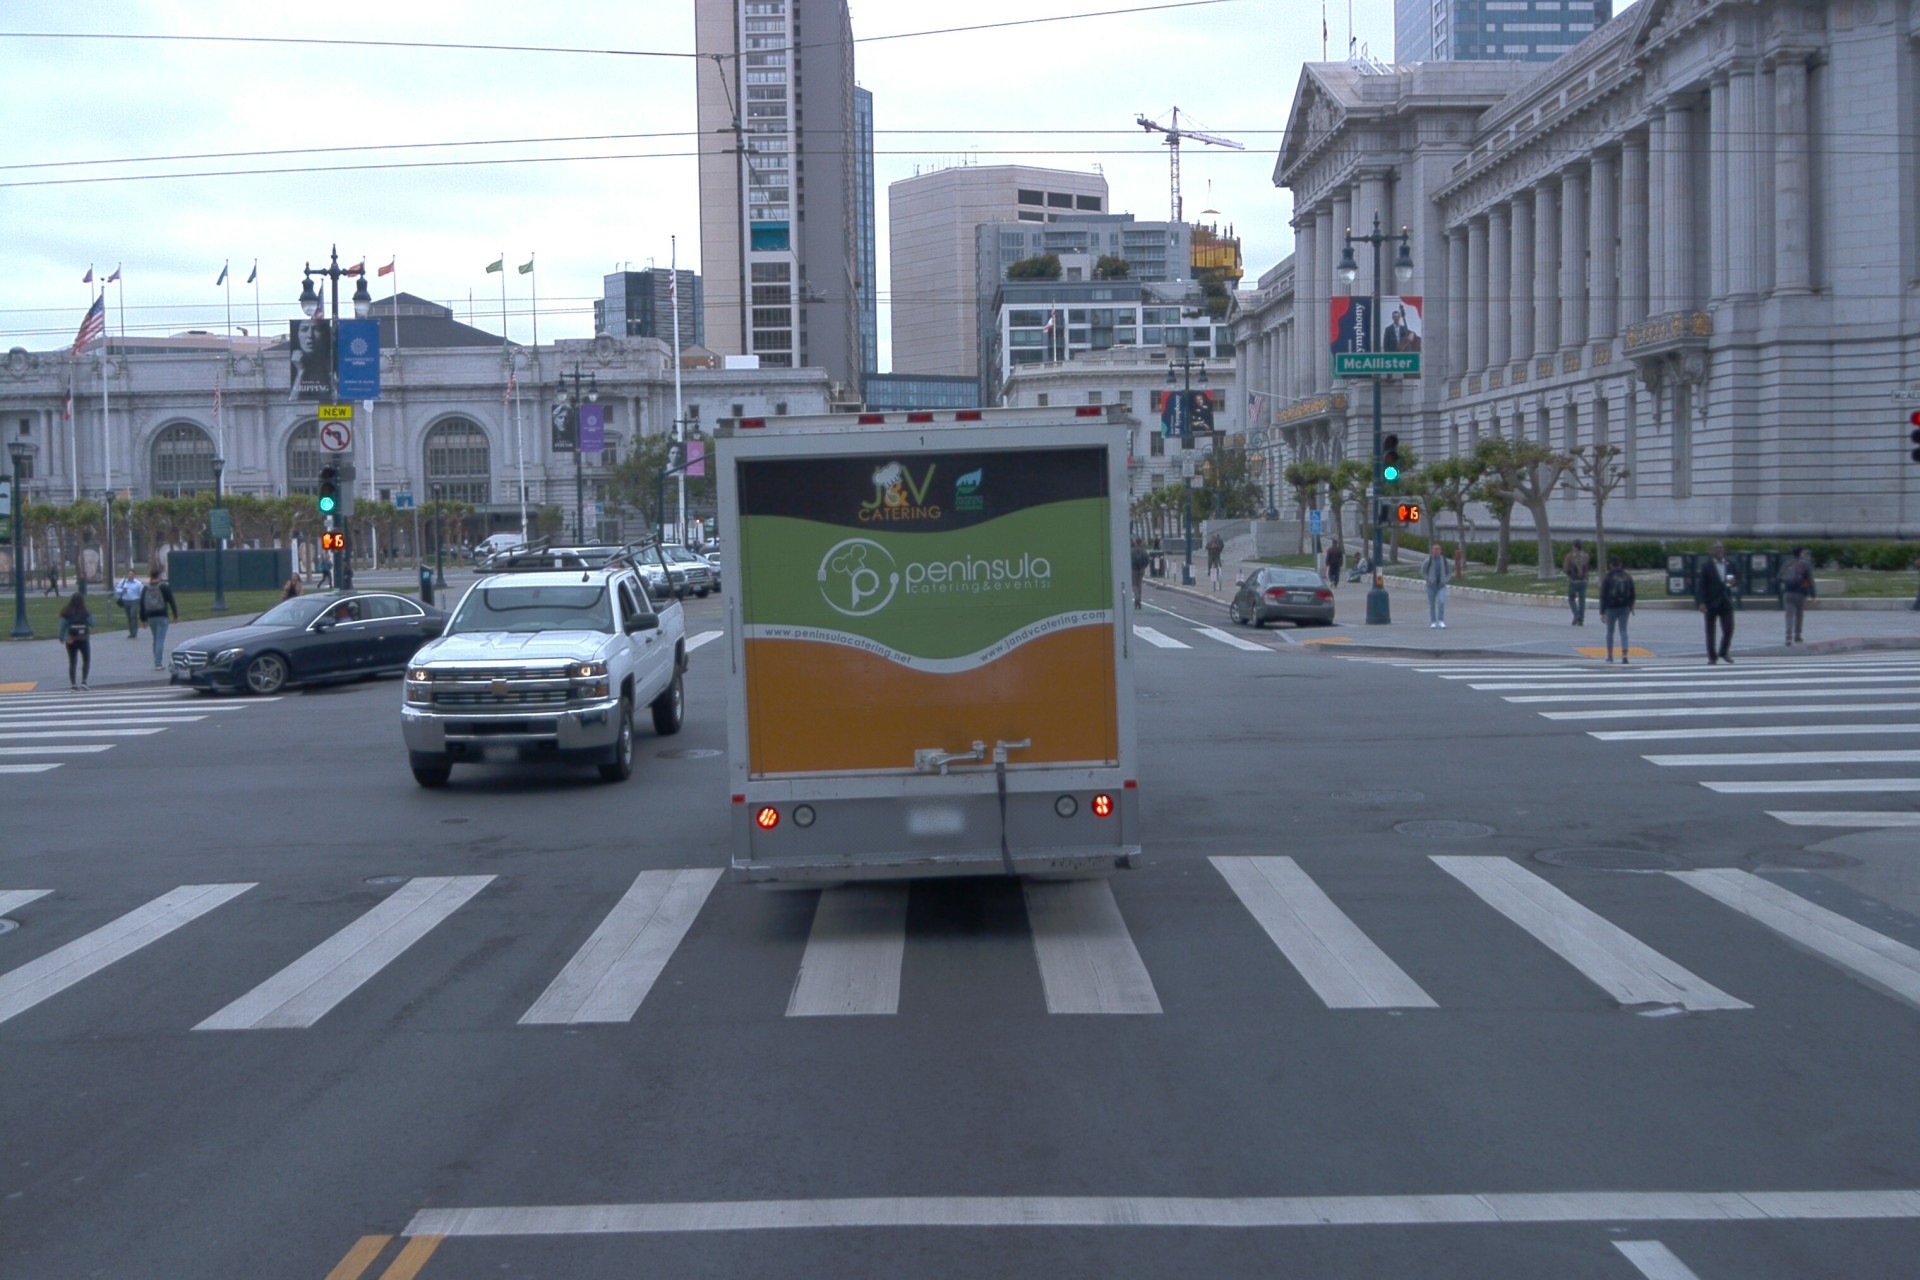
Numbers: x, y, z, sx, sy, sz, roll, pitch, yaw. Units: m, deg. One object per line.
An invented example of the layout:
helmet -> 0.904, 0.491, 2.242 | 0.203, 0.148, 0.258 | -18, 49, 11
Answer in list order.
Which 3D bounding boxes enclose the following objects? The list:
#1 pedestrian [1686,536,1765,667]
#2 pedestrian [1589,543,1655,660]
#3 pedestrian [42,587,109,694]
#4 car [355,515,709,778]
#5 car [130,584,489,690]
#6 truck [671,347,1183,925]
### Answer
pedestrian -> 10.981, -0.548, 29.532 | 0.812, 1.850, 0.951 | 0, 1, 3
pedestrian -> 10.129, -0.589, 31.505 | 0.832, 1.760, 0.933 | 0, 1, 10
pedestrian -> -14.615, 0.003, 34.000 | 0.791, 1.734, 0.967 | 0, 1, -9
car -> -4.182, 0.008, 21.334 | 2.433, 2.339, 5.915 | 0, 1, 0
car -> -10.003, -0.088, 31.986 | 2.284, 1.520, 4.894 | 0, 1, 37
truck -> -0.274, -0.082, 15.440 | 2.917, 3.300, 7.285 | 0, 1, -1
